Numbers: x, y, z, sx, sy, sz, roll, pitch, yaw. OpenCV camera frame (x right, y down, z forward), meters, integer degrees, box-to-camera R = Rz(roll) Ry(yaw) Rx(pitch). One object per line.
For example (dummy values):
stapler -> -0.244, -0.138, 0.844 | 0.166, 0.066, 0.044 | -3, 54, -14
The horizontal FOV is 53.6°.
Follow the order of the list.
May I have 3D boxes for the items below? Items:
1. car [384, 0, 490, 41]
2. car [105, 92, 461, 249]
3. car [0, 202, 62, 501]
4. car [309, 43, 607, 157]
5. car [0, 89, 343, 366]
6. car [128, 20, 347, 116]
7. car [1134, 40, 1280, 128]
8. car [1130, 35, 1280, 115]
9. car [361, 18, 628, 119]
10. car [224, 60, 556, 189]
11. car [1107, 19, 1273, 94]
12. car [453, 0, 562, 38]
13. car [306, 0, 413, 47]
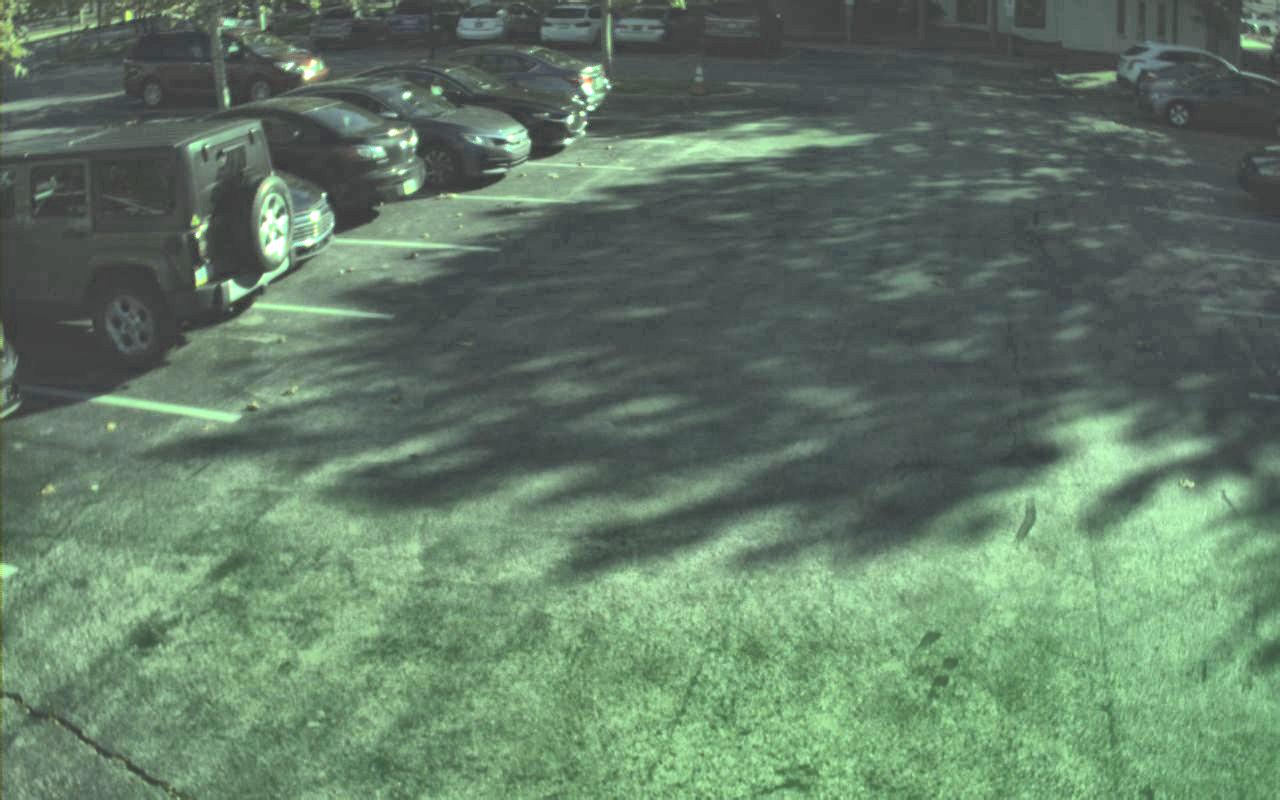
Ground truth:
car -> -6.780, -12.979, 40.667 | 1.963, 1.656, 4.526 | 3, 17, 14
car -> -4.613, -2.918, 15.175 | 4.333, 1.617, 1.948 | 5, 17, 21
car -> -6.667, -0.505, 7.943 | 4.390, 1.572, 1.947 | 4, 17, 17
car -> -2.890, -4.800, 19.570 | 4.382, 1.584, 1.946 | 2, 17, 11
car -> -5.187, -1.579, 10.222 | 4.716, 1.913, 2.062 | 3, 17, 13
car -> -9.132, -7.433, 26.423 | 4.769, 1.725, 2.041 | 3, 17, 14
car -> 13.588, -7.242, 25.748 | 4.551, 1.592, 1.981 | 4, 17, 15
car -> 14.317, -8.046, 27.937 | 4.360, 1.585, 1.948 | 4, 17, 17
car -> -2.625, -5.998, 22.143 | 4.440, 1.611, 1.955 | 3, 17, 13
car -> -3.577, -3.905, 17.303 | 4.366, 1.559, 1.939 | 3, 17, 15
car -> 14.788, -9.193, 30.347 | 4.464, 1.652, 1.966 | 3, 17, 12
car -> -4.301, -12.742, 39.937 | 1.958, 1.649, 4.511 | 4, 17, 17
car -> -9.576, -13.004, 40.969 | 1.972, 1.673, 4.549 | 2, 17, 12
